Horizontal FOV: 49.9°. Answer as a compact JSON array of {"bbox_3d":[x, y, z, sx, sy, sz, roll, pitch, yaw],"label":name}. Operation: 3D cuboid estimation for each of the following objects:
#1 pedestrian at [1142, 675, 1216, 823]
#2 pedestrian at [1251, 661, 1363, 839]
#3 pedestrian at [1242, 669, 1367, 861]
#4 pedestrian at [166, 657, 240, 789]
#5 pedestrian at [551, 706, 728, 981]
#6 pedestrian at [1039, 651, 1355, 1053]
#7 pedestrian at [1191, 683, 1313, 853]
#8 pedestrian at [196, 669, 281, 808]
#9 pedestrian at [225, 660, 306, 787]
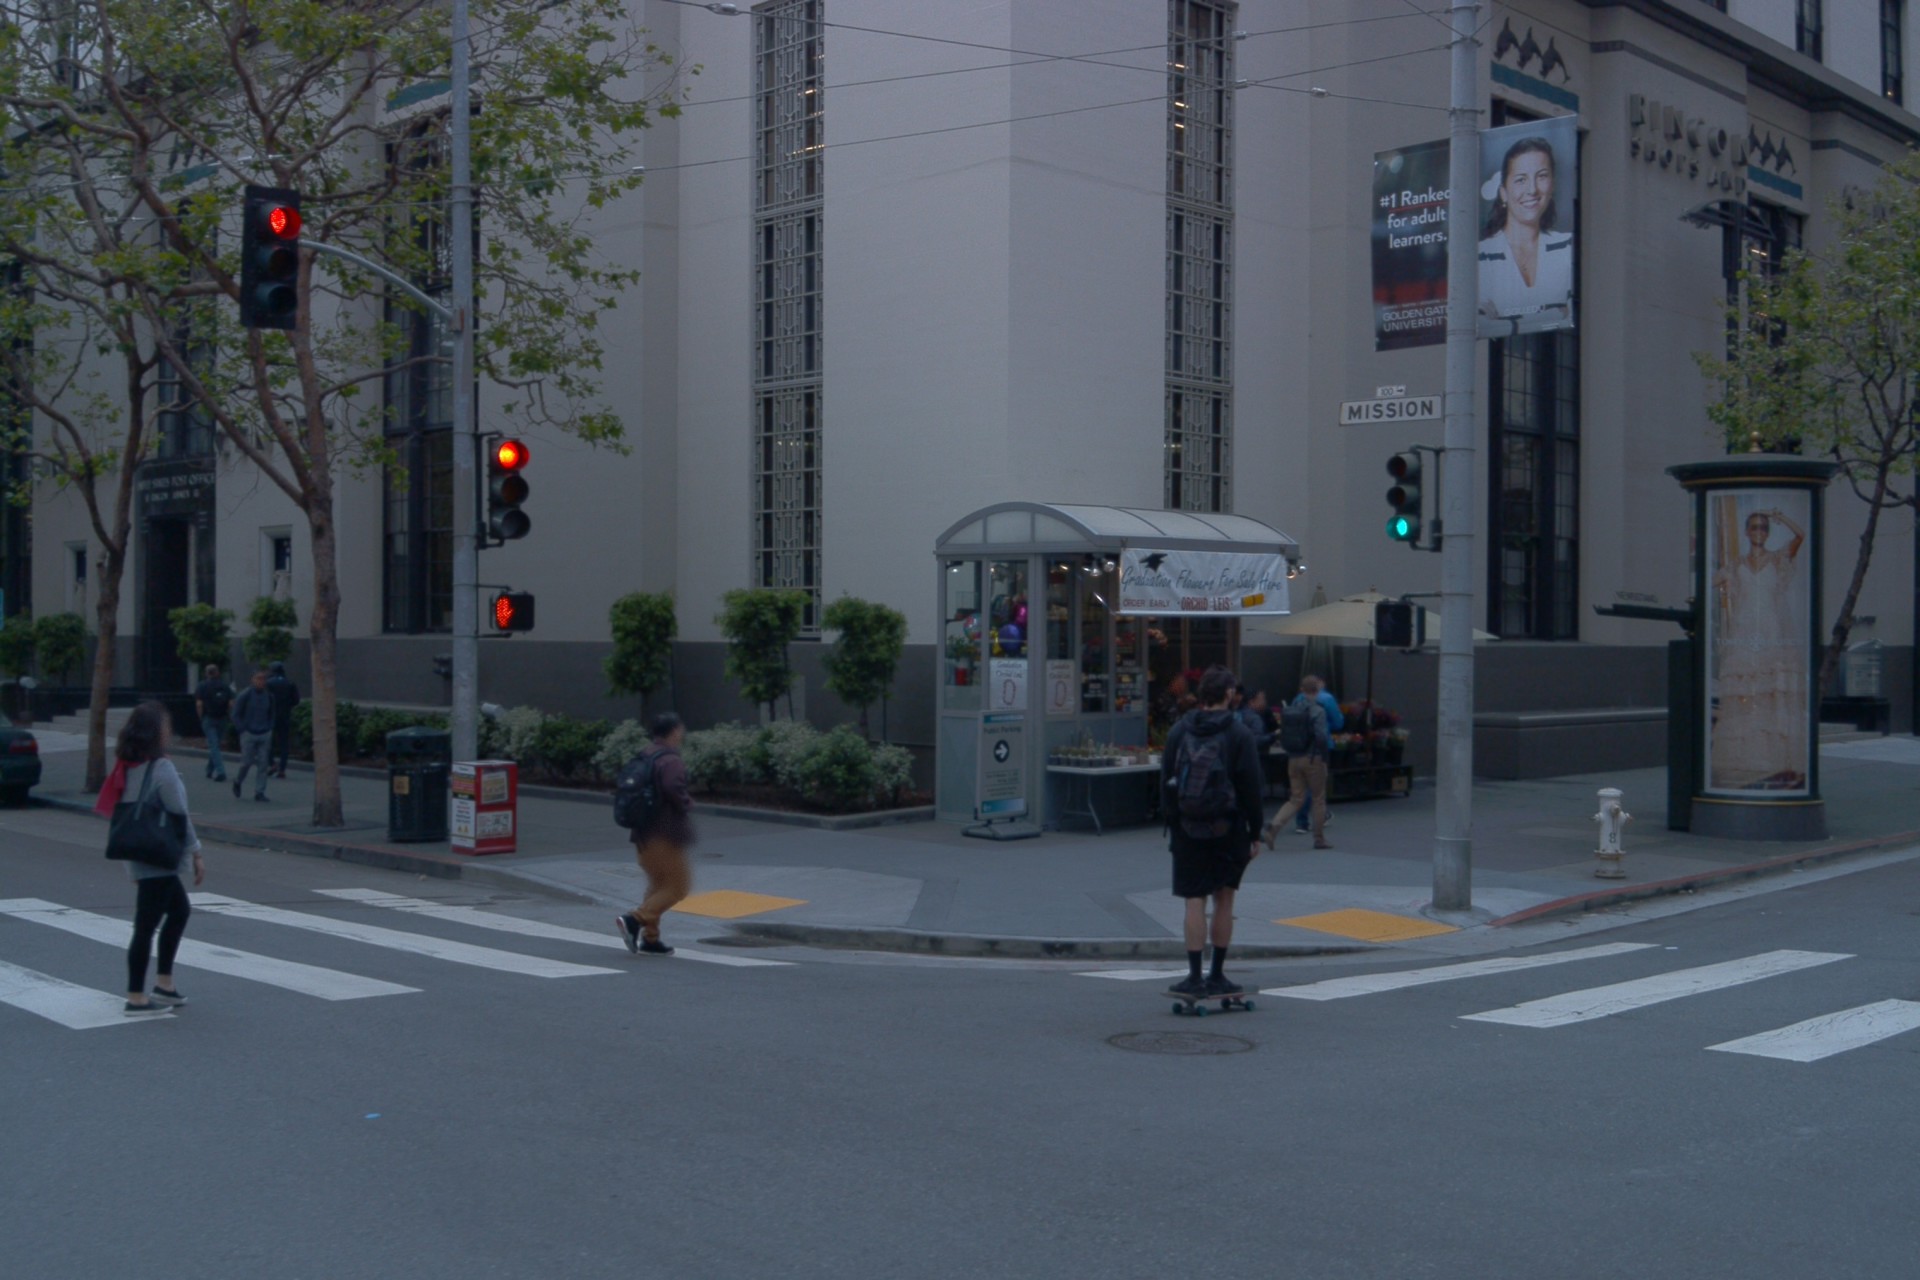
[{"bbox_3d":[2.592,1.274,24.417,0.699,1.696,0.508,0,1,38],"label":"pedestrian"},{"bbox_3d":[3.862,1.194,22.940,0.984,1.896,0.798,-1,1,-44],"label":"pedestrian"},{"bbox_3d":[3.566,1.268,21.364,1.051,1.896,0.762,-1,1,-35],"label":"pedestrian"},{"bbox_3d":[-10.989,1.187,29.940,0.681,1.856,0.975,-1,1,-42],"label":"pedestrian"},{"bbox_3d":[-2.203,1.363,14.221,0.964,1.771,0.716,-1,1,-41],"label":"pedestrian"},{"bbox_3d":[1.385,1.140,11.970,1.544,2.118,1.097,-1,1,-45],"label":"pedestrian"},{"bbox_3d":[3.091,1.326,21.826,0.974,1.706,0.840,-1,1,-38],"label":"pedestrian"},{"bbox_3d":[-9.324,1.253,26.666,0.726,1.726,0.865,-1,1,-45],"label":"pedestrian"},{"bbox_3d":[-10.165,1.201,30.196,0.757,1.796,0.983,-1,1,-44],"label":"pedestrian"}]
